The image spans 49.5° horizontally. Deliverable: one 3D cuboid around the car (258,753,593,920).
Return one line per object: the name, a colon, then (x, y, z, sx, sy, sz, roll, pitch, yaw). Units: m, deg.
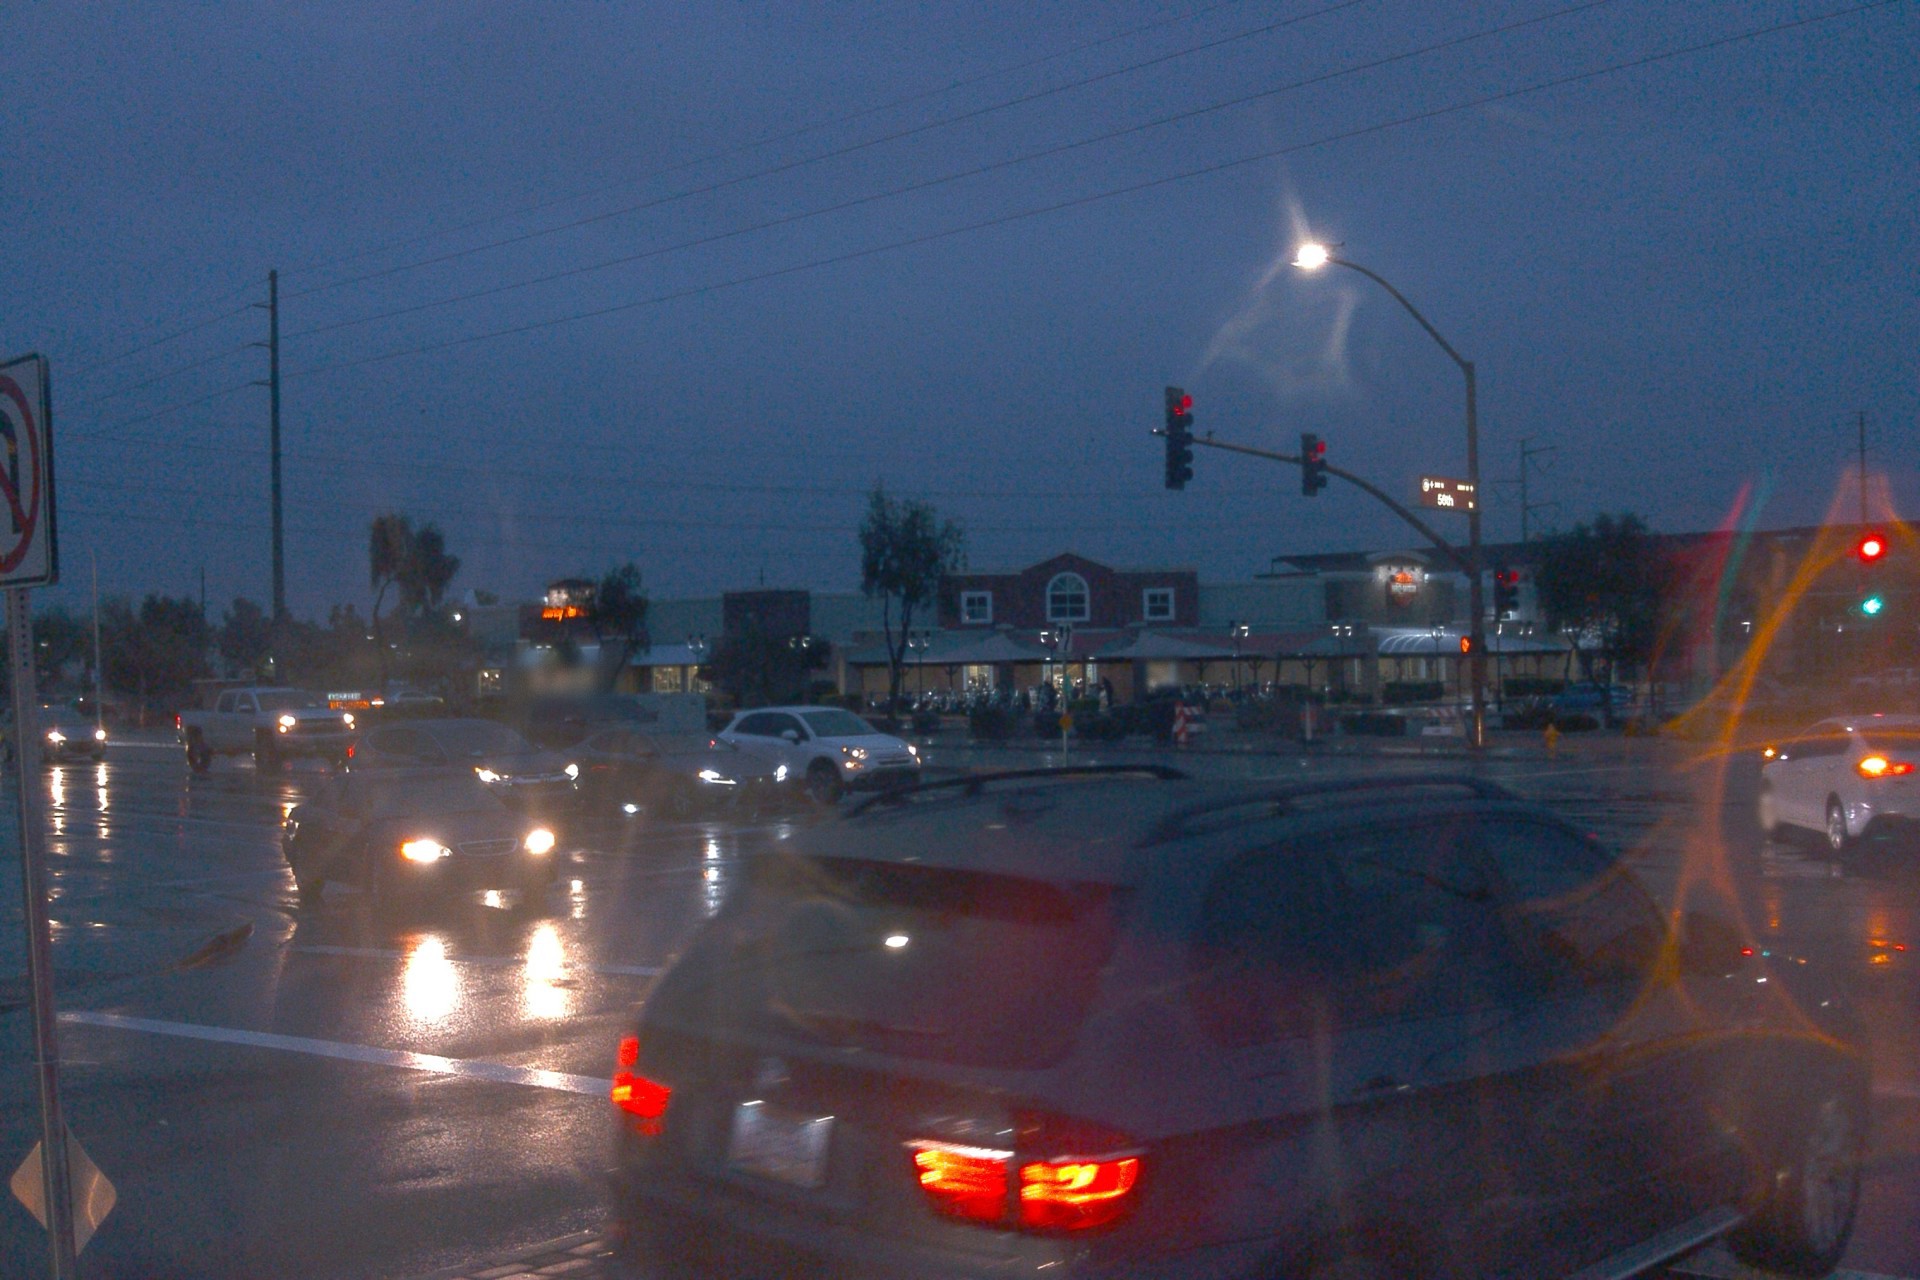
car: (-5.899, 2.022, 22.550, 2.092, 1.390, 4.781, 0, -1, -33)

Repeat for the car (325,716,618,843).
car: (-7.473, 2.042, 31.648, 4.544, 1.660, 2.258, -1, -1, 45)

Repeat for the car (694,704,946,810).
car: (-2.470, 1.965, 36.064, 2.095, 1.630, 4.278, 1, -1, -44)

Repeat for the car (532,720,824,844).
car: (-4.597, 2.209, 33.540, 4.666, 1.730, 2.267, -1, -1, 44)
